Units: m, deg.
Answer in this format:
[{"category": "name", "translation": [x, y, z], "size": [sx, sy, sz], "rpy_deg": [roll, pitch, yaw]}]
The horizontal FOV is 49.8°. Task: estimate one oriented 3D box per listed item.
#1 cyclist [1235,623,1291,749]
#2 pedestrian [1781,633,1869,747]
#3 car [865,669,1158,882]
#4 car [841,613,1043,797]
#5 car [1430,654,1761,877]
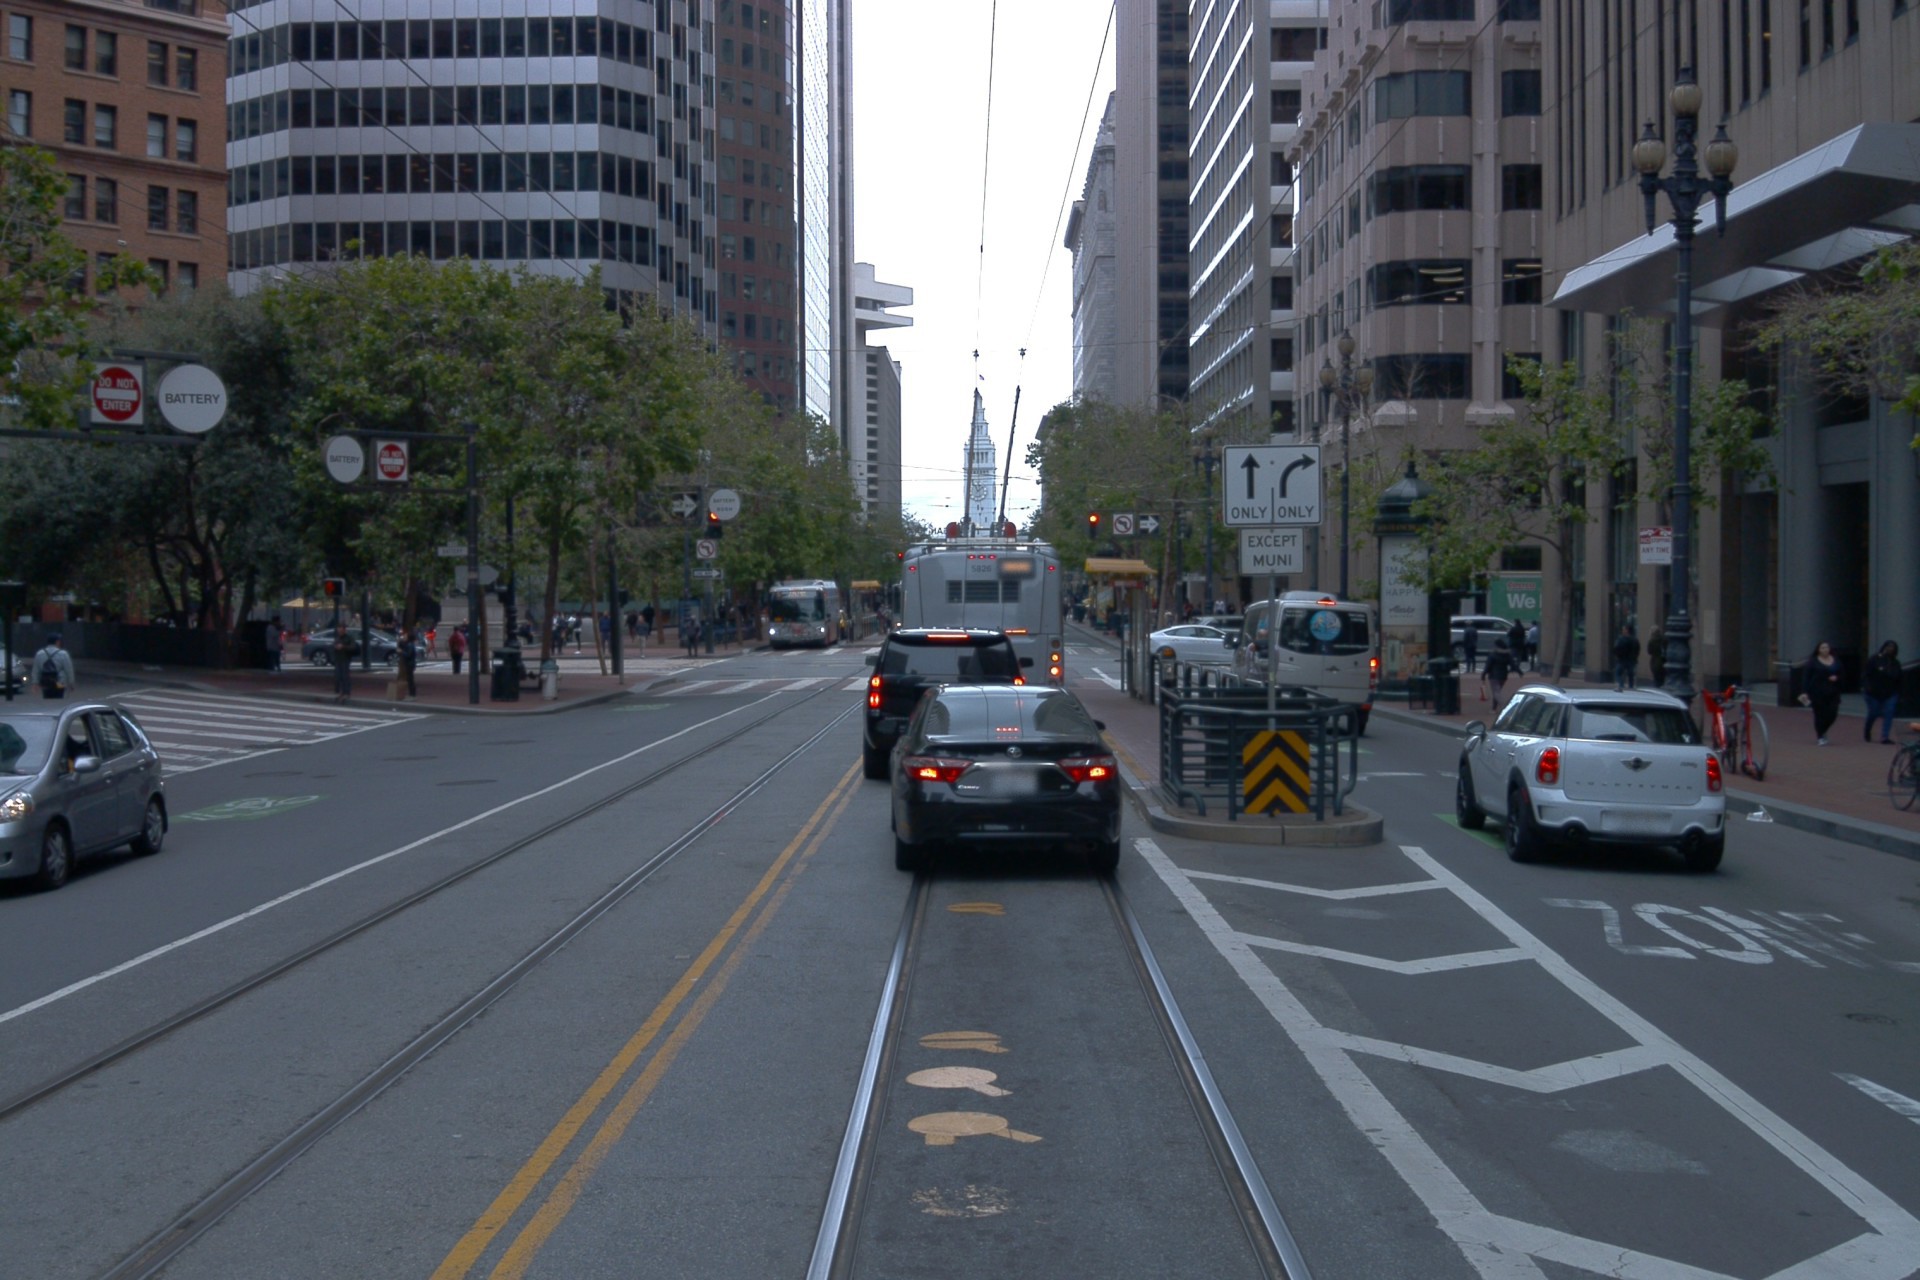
[{"category": "cyclist", "translation": [4.676, 0.684, 31.951], "size": [0.638, 1.900, 1.439], "rpy_deg": [0, 1, -1]}, {"category": "pedestrian", "translation": [13.302, 0.749, 31.793], "size": [0.897, 1.710, 1.012], "rpy_deg": [0, 1, -2]}, {"category": "car", "translation": [0.293, 1.044, 17.806], "size": [2.188, 1.460, 4.687], "rpy_deg": [0, 1, -2]}, {"category": "car", "translation": [-0.169, 0.721, 26.462], "size": [2.308, 2.100, 5.442], "rpy_deg": [0, 1, 1]}, {"category": "car", "translation": [5.725, 1.062, 19.141], "size": [2.075, 1.784, 3.877], "rpy_deg": [0, 1, 4]}]
